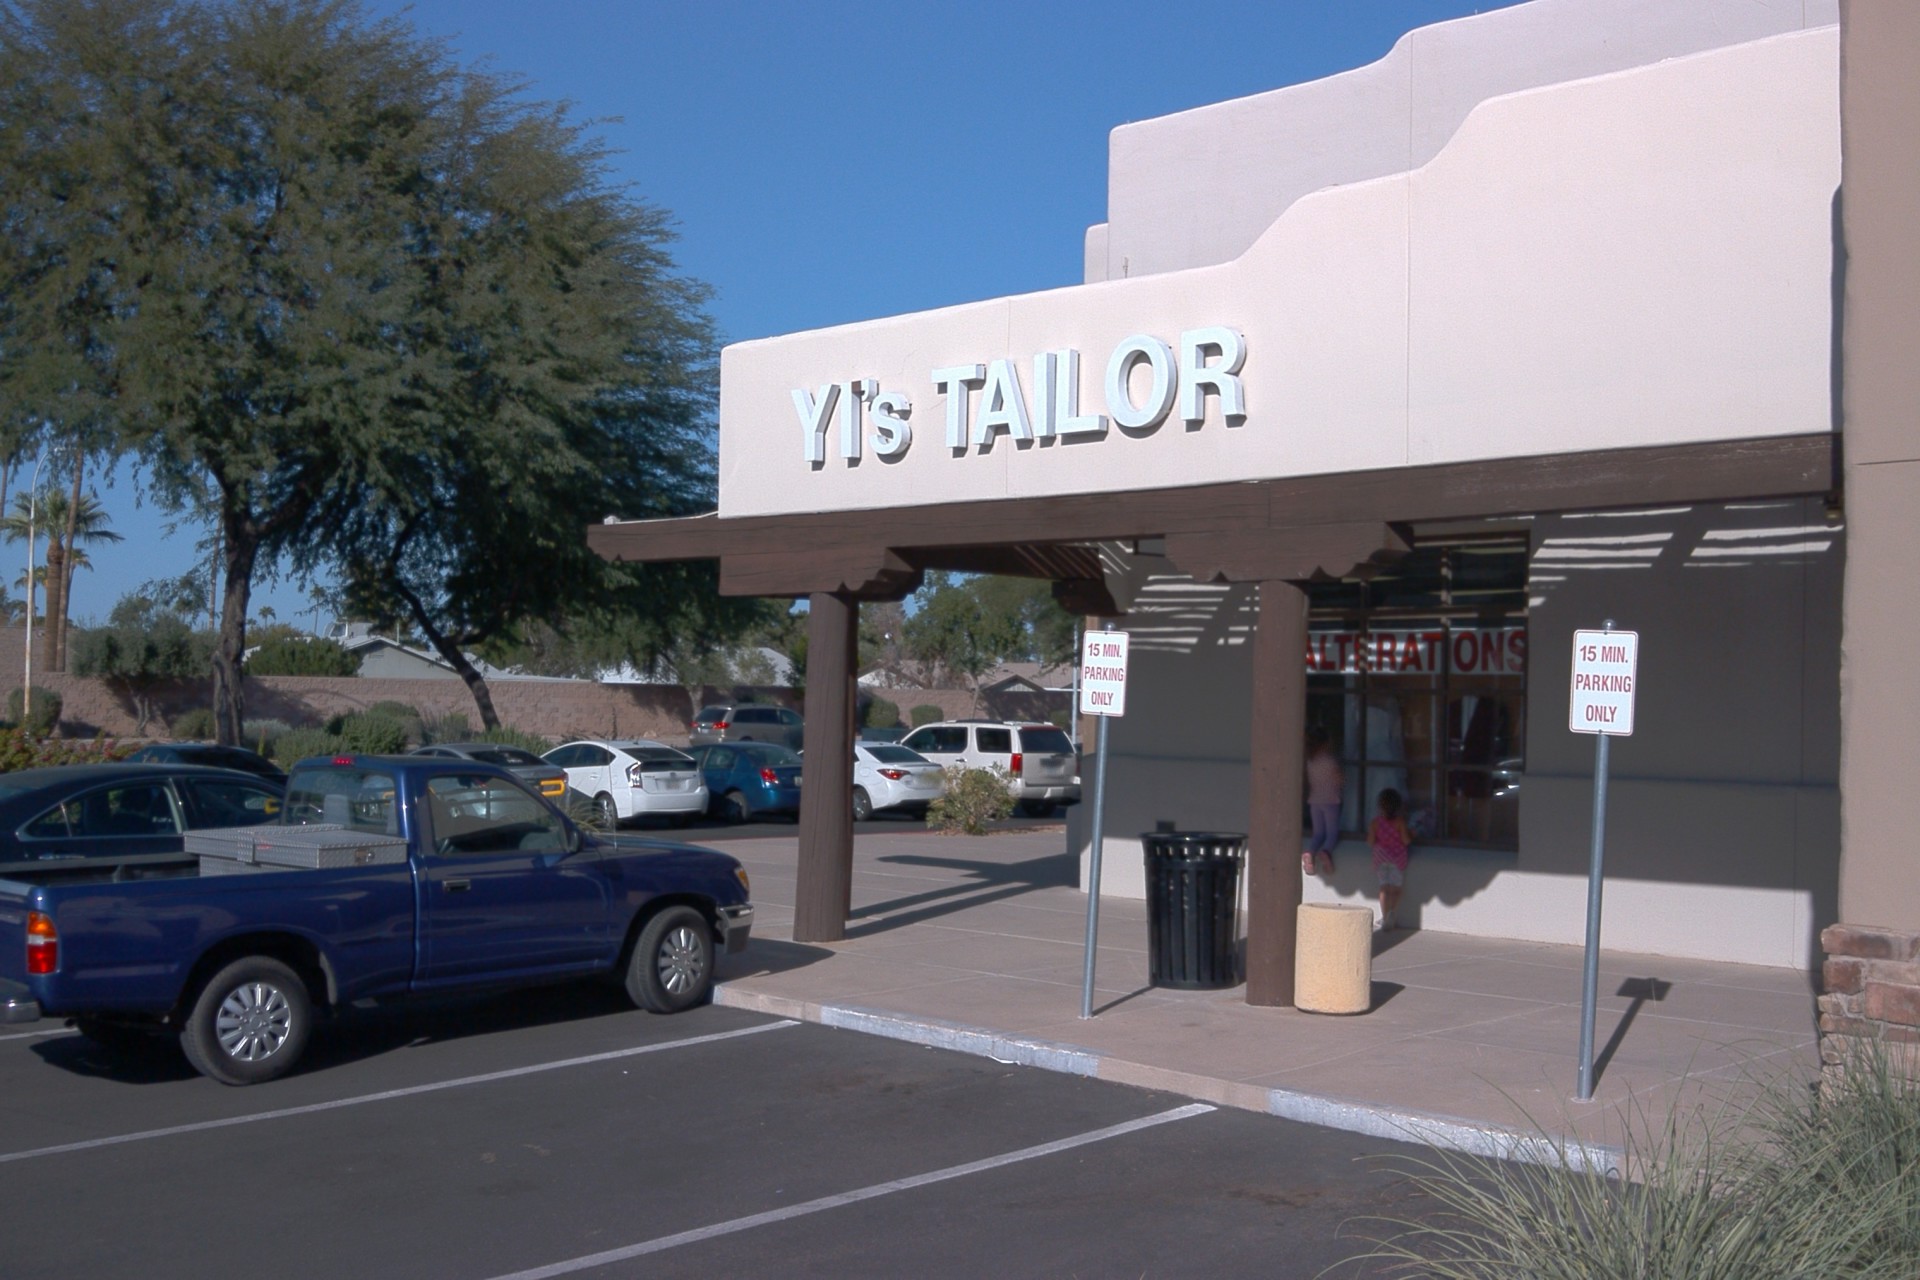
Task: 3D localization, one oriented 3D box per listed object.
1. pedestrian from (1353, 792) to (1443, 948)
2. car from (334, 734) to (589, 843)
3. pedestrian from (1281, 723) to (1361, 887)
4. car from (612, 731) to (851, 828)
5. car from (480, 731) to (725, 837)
[{"bbox_3d":[3.301,1.720,15.661,0.521,1.100,0.442,-1,0,-44],"label":"pedestrian"},{"bbox_3d":[-8.348,2.404,34.556,4.665,1.520,1.915,-1,0,44],"label":"car"},{"bbox_3d":[2.849,1.289,16.387,0.466,1.250,0.418,-1,0,-44],"label":"pedestrian"},{"bbox_3d":[-4.253,2.511,38.211,4.539,1.530,1.893,-1,0,44],"label":"car"},{"bbox_3d":[-6.283,2.455,36.195,4.539,1.580,1.893,-1,0,44],"label":"car"}]
